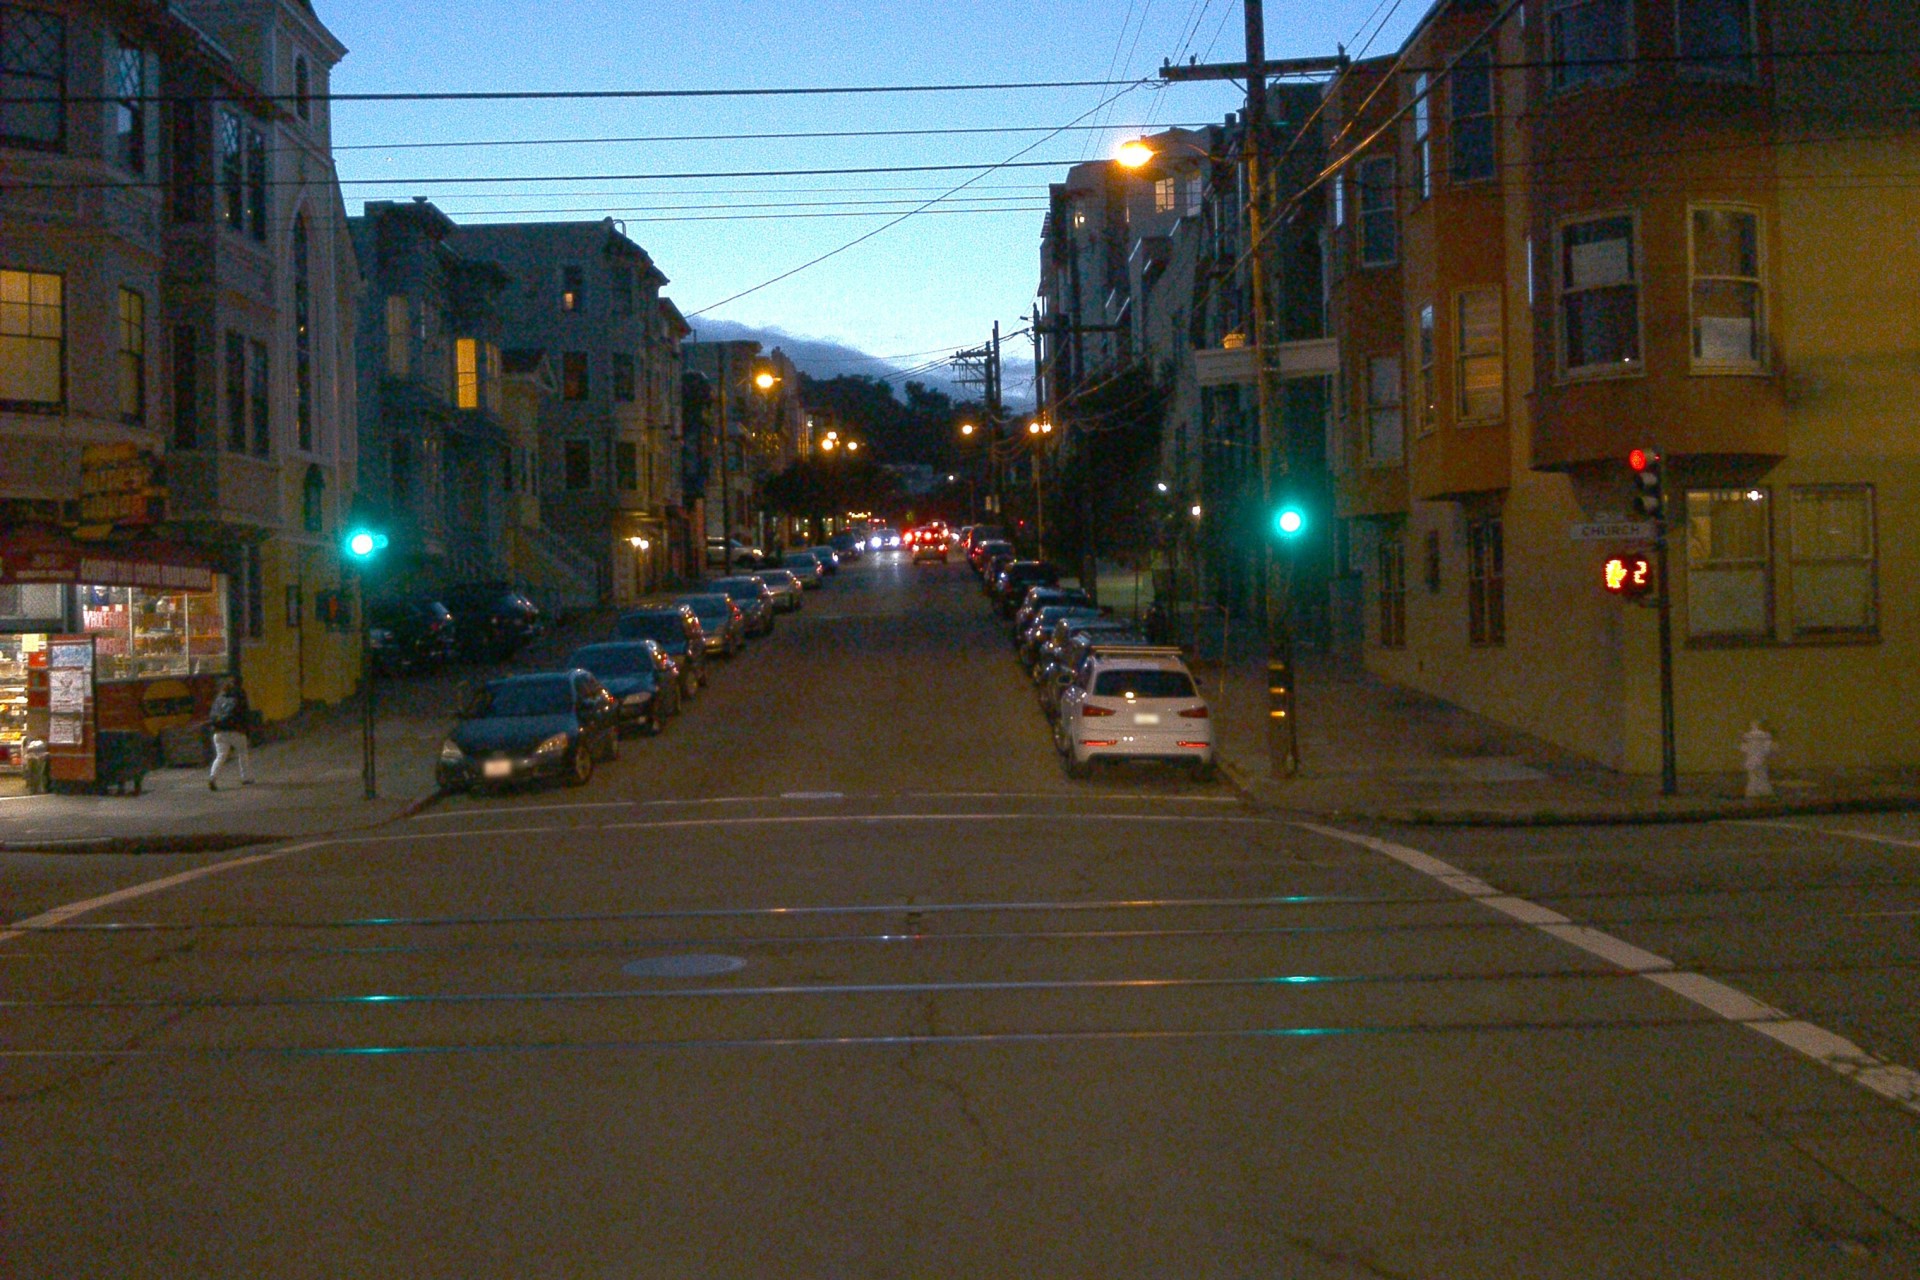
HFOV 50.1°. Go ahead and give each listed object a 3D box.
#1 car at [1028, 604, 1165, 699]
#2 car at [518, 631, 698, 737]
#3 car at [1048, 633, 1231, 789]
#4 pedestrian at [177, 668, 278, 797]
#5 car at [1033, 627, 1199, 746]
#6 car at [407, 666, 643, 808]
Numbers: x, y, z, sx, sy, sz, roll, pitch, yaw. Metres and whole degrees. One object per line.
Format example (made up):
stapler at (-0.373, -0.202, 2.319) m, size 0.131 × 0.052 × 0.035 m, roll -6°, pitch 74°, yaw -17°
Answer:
car at (2.448, 0.166, 37.995) m, size 2.059 × 1.630 × 4.560 m, roll 0°, pitch 1°, yaw -2°
car at (-5.783, 0.670, 34.422) m, size 2.268 × 1.580 × 4.961 m, roll 0°, pitch 1°, yaw -1°
car at (2.328, 0.877, 27.807) m, size 2.080 × 1.878 × 4.448 m, roll 0°, pitch 1°, yaw 0°
pedestrian at (-9.628, 1.205, 27.049) m, size 0.924 × 1.640 × 0.886 m, roll 0°, pitch 1°, yaw 10°
car at (2.394, 0.664, 32.814) m, size 2.060 × 1.700 × 4.833 m, roll 0°, pitch 1°, yaw -3°
car at (-5.832, 1.249, 28.237) m, size 2.208 × 1.630 × 4.906 m, roll 0°, pitch 1°, yaw 0°
